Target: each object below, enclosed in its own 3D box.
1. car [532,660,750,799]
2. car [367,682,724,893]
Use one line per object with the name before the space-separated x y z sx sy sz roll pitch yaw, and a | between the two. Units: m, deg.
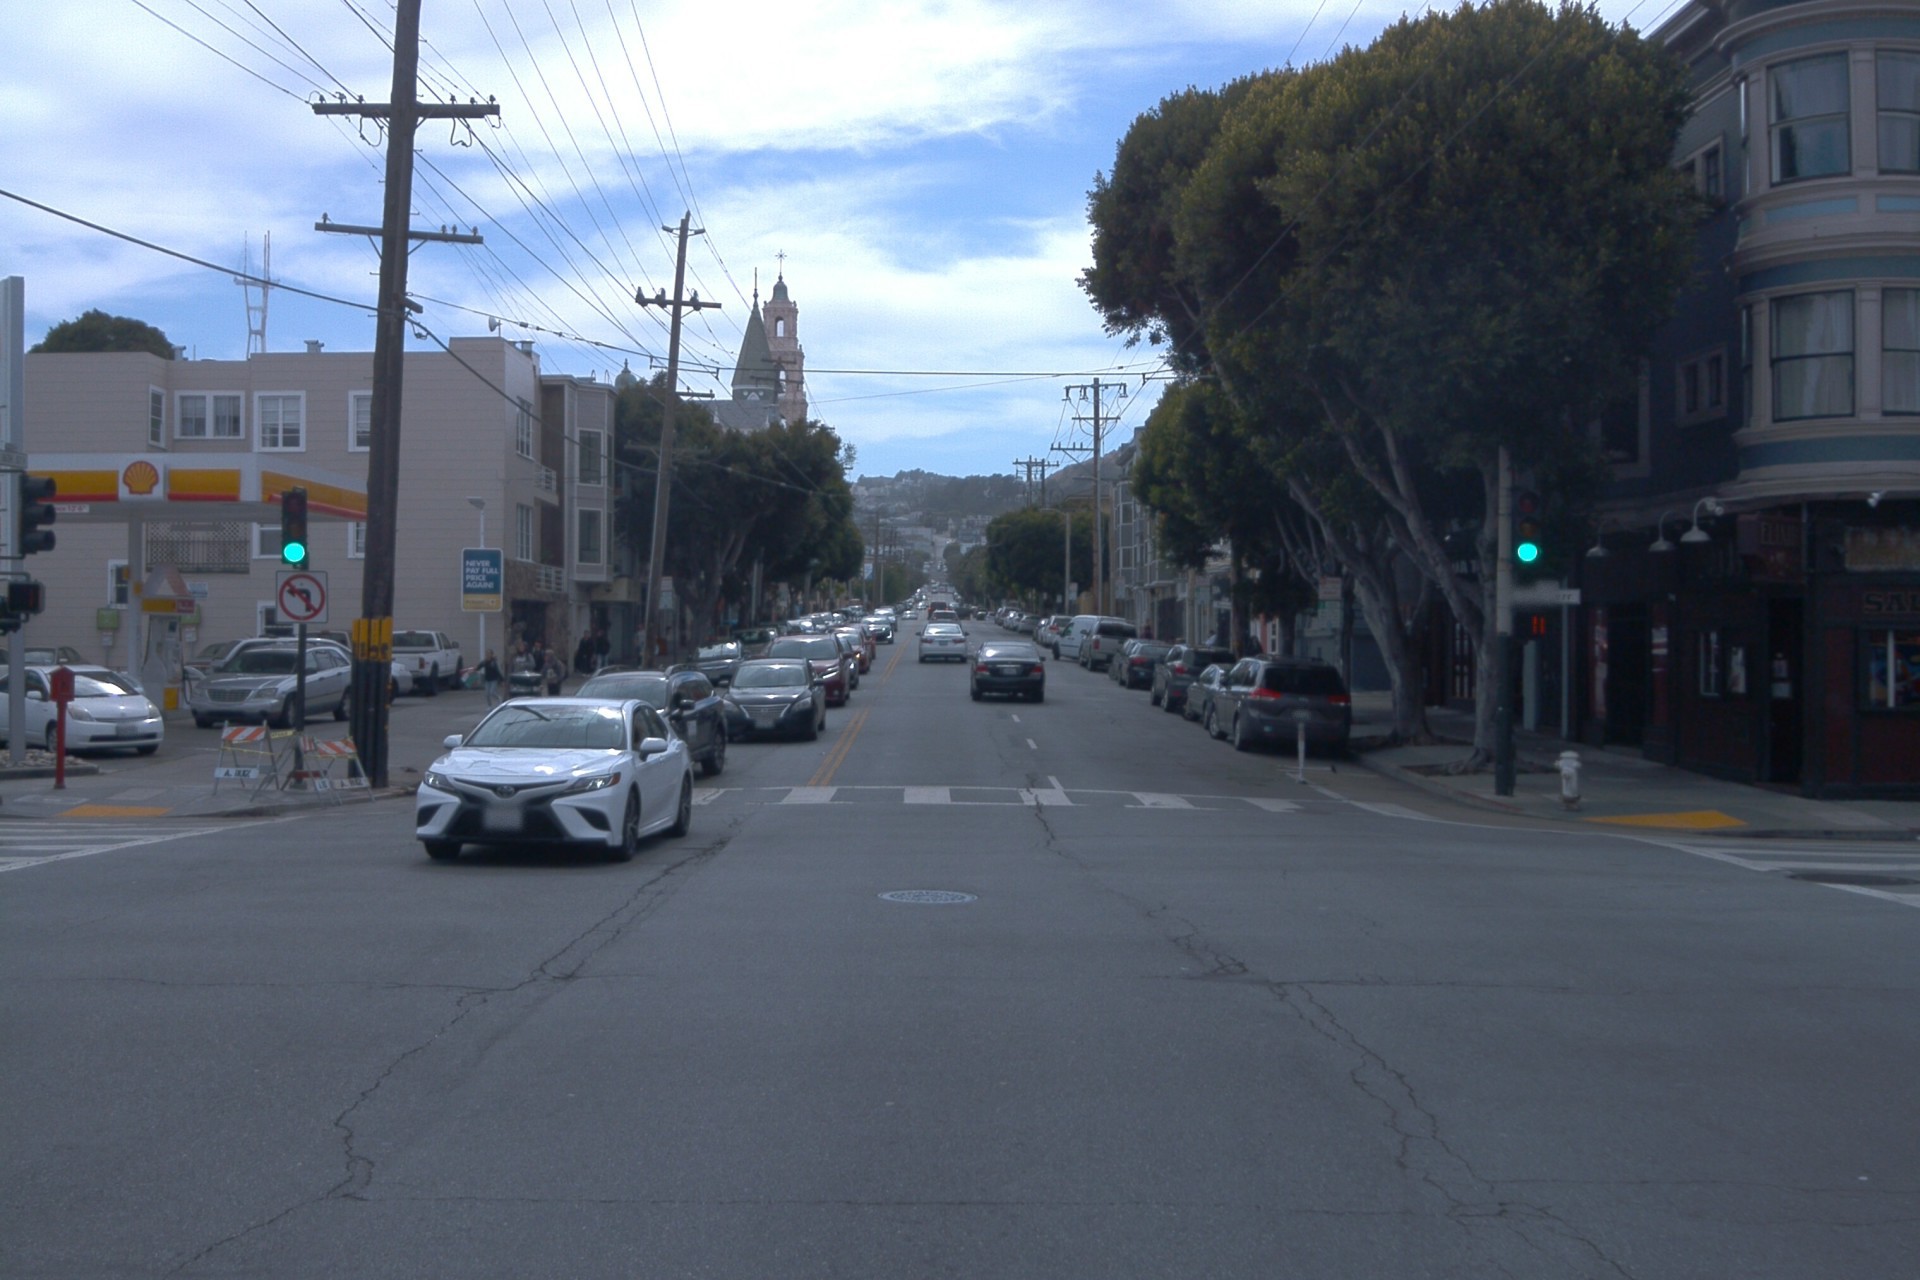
car | -4.473 1.209 29.596 1.971 1.720 4.702 0 1 6
car | -3.738 1.279 19.611 2.214 1.570 5.028 0 1 2
